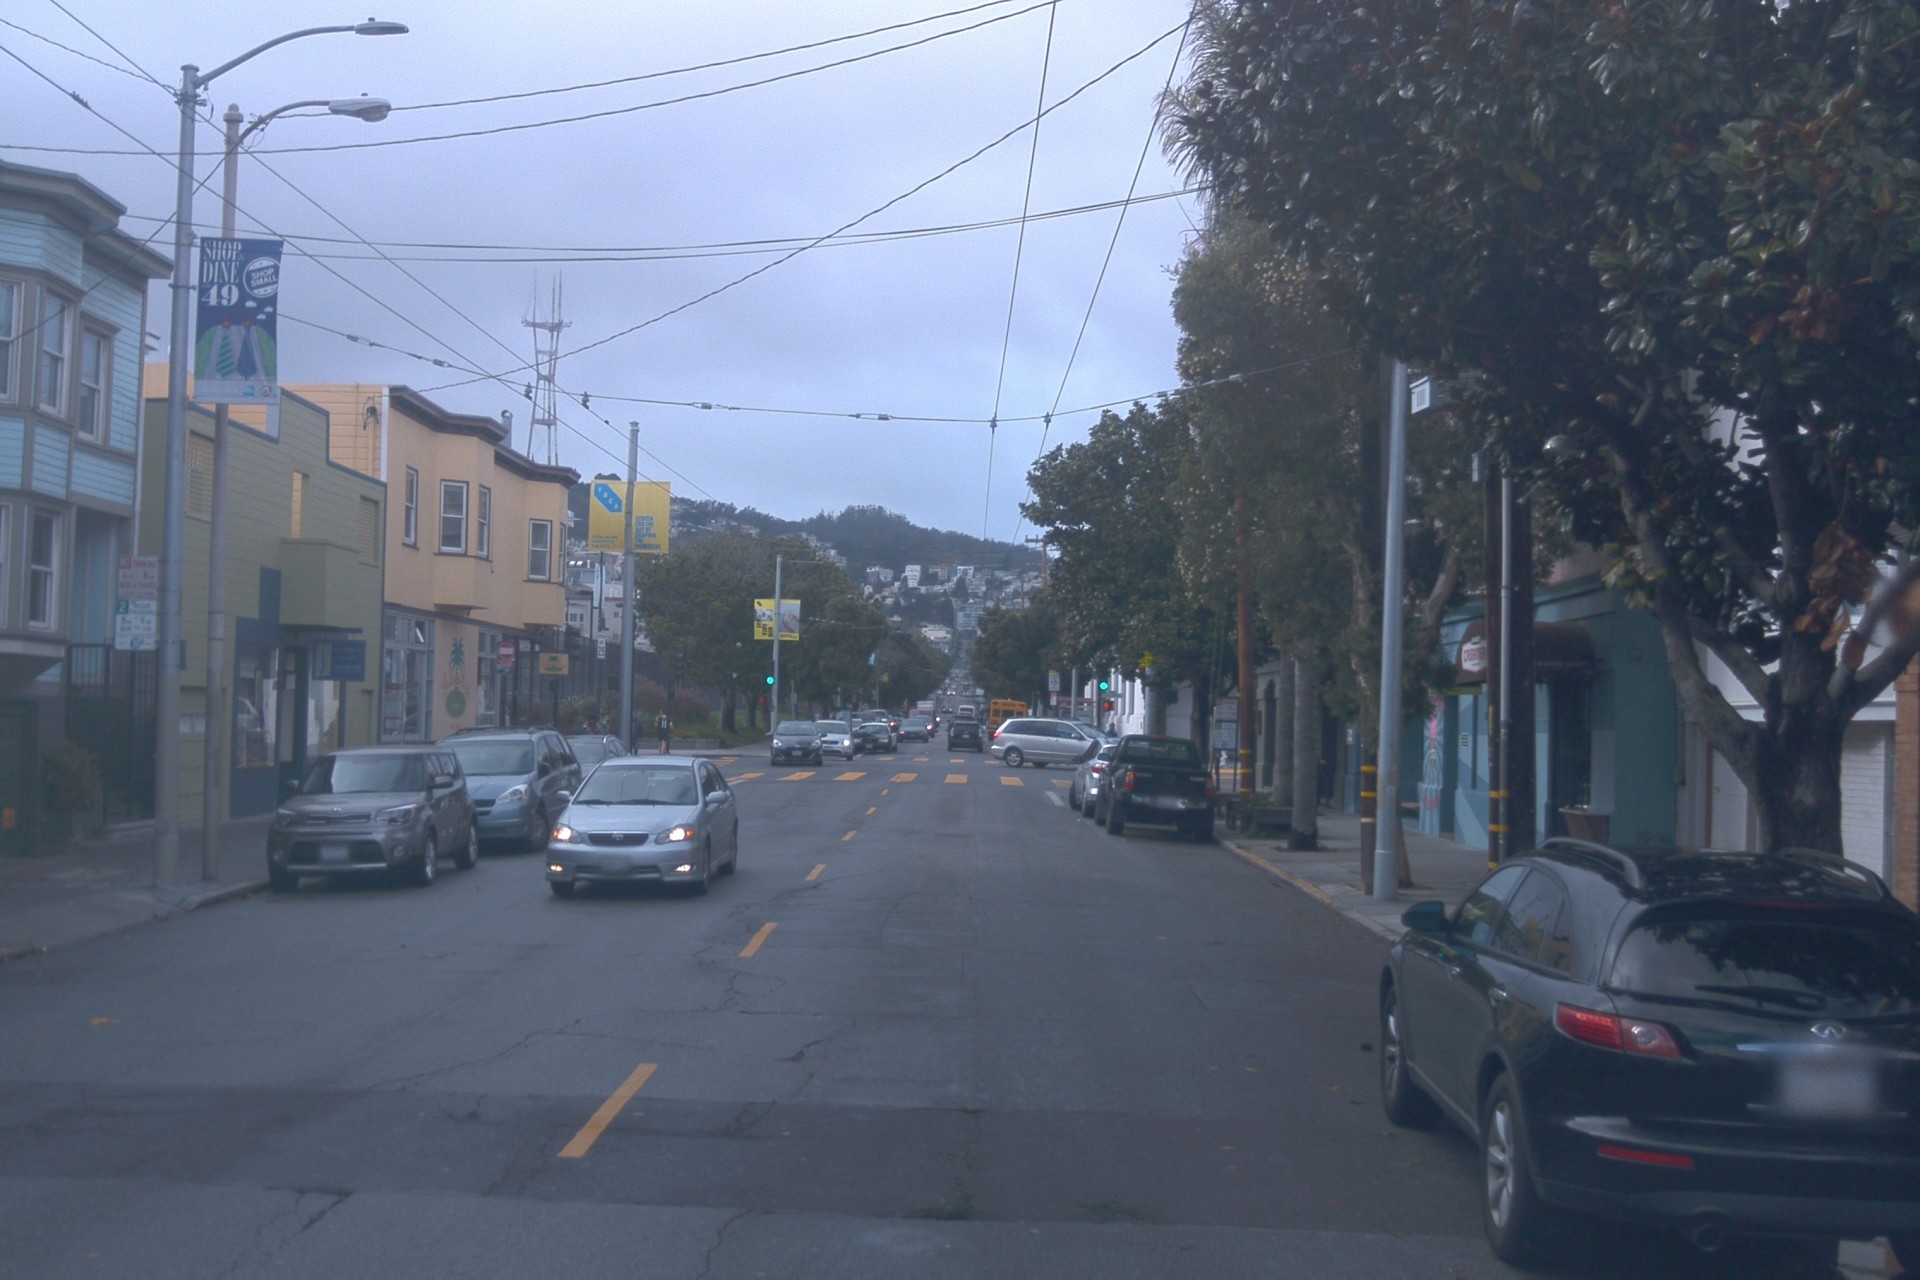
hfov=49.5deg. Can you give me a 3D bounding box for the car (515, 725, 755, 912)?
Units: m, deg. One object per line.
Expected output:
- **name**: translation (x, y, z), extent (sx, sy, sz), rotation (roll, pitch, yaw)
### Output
- **car**: translation (-3.585, 1.938, 23.840), extent (1.955, 1.840, 4.535), rotation (1, -2, 1)

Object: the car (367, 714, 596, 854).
- **car**: translation (-6.899, 2.032, 30.647), extent (2.260, 1.810, 5.102), rotation (1, -2, -2)

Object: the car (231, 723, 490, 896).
- **car**: translation (-7.017, 1.936, 24.865), extent (2.048, 1.800, 4.148), rotation (1, -2, -3)

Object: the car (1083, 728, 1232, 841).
- **car**: translation (3.367, 2.461, 36.430), extent (2.066, 1.730, 4.817), rotation (1, -2, -1)
